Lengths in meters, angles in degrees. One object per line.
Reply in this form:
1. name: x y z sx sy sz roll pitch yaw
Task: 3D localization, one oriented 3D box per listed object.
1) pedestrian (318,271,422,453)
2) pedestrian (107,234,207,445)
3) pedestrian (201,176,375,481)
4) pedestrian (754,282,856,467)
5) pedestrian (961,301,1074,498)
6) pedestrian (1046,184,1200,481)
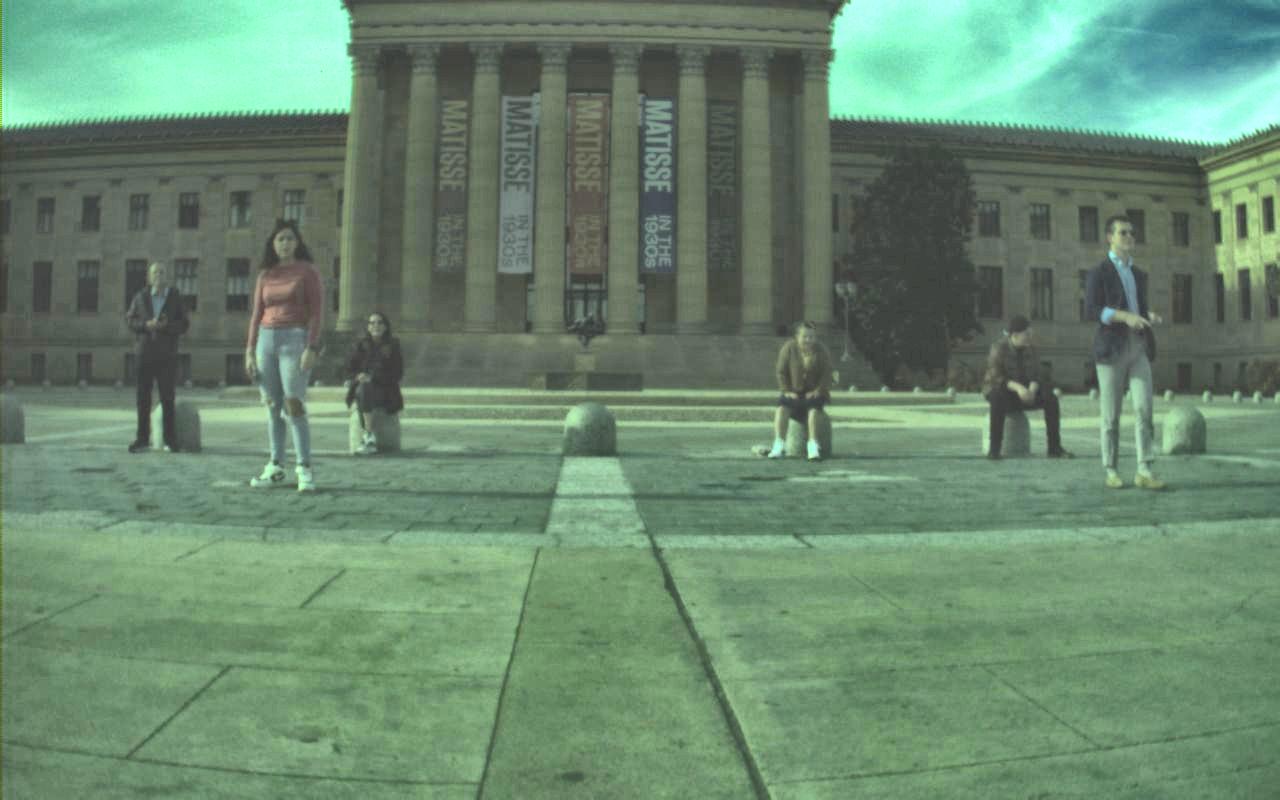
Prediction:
1. pedestrian: -2.348 -0.330 10.800 0.800 1.525 0.834 0 0 -4
2. pedestrian: -4.205 -0.505 10.259 0.769 1.771 0.784 0 0 -12
3. pedestrian: -2.097 -0.407 7.240 0.752 1.699 0.764 1 0 16
4. pedestrian: 1.418 -0.218 10.897 0.761 1.539 0.789 0 0 -3
5. pedestrian: 3.368 -0.004 10.928 0.863 1.690 0.899 0 0 5
6. pedestrian: 3.091 -0.406 7.605 0.802 1.796 0.839 0 0 2
